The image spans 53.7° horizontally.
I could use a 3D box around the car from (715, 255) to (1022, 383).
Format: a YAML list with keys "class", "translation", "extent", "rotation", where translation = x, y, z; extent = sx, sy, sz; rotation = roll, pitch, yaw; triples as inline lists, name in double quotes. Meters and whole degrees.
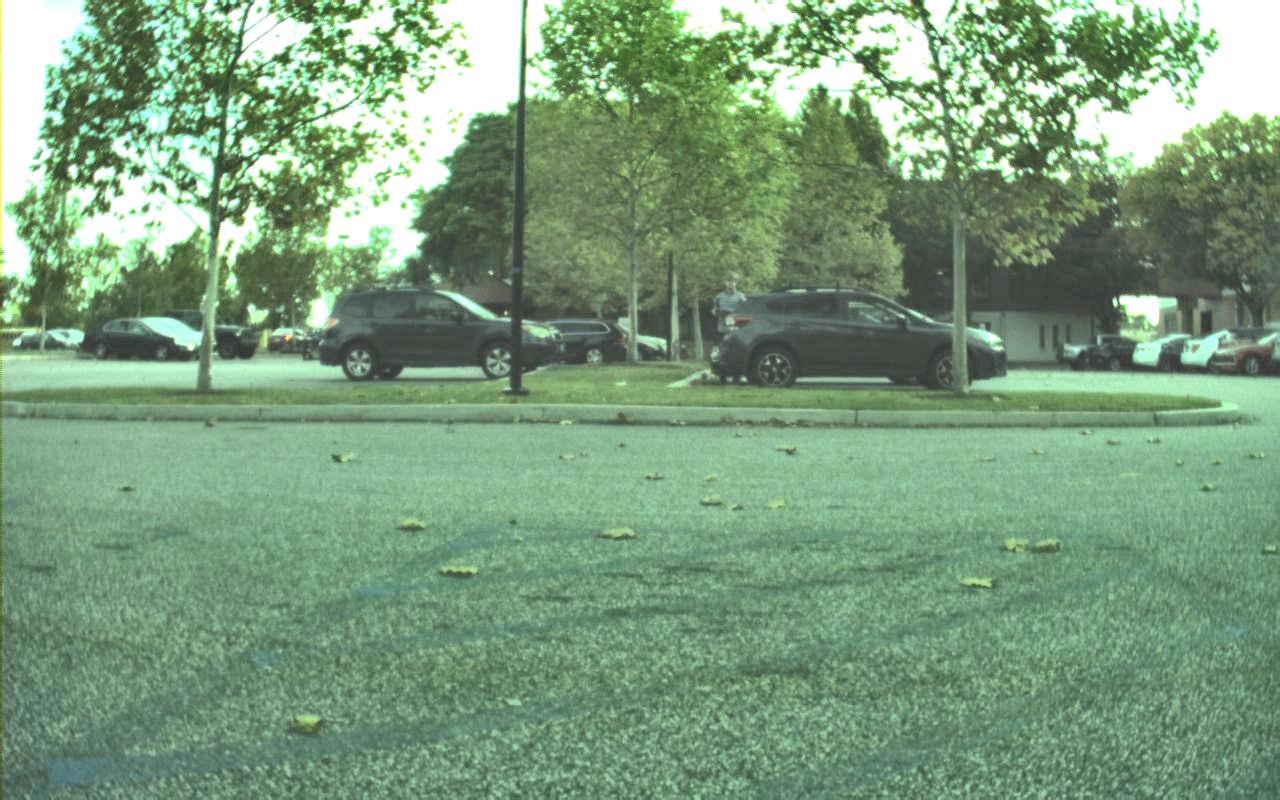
- class: "car"
  translation: [3.468, -1.205, 19.264]
  extent: [4.589, 1.845, 1.999]
  rotation: [1, 1, 4]

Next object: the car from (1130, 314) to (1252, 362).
- class: "car"
  translation: [20.780, -2.204, 43.920]
  extent: [4.569, 1.719, 2.001]
  rotation: [1, 1, 9]

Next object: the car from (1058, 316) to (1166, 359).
- class: "car"
  translation: [22.387, -2.847, 56.586]
  extent: [4.998, 1.917, 2.103]
  rotation: [1, 1, 6]

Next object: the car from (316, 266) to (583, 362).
- class: "car"
  translation: [-3.490, -1.538, 23.046]
  extent: [4.608, 1.660, 1.980]
  rotation: [1, 1, 6]

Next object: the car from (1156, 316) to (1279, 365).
- class: "car"
  translation: [20.730, -2.001, 41.360]
  extent: [4.472, 1.666, 1.965]
  rotation: [0, 1, -9]
